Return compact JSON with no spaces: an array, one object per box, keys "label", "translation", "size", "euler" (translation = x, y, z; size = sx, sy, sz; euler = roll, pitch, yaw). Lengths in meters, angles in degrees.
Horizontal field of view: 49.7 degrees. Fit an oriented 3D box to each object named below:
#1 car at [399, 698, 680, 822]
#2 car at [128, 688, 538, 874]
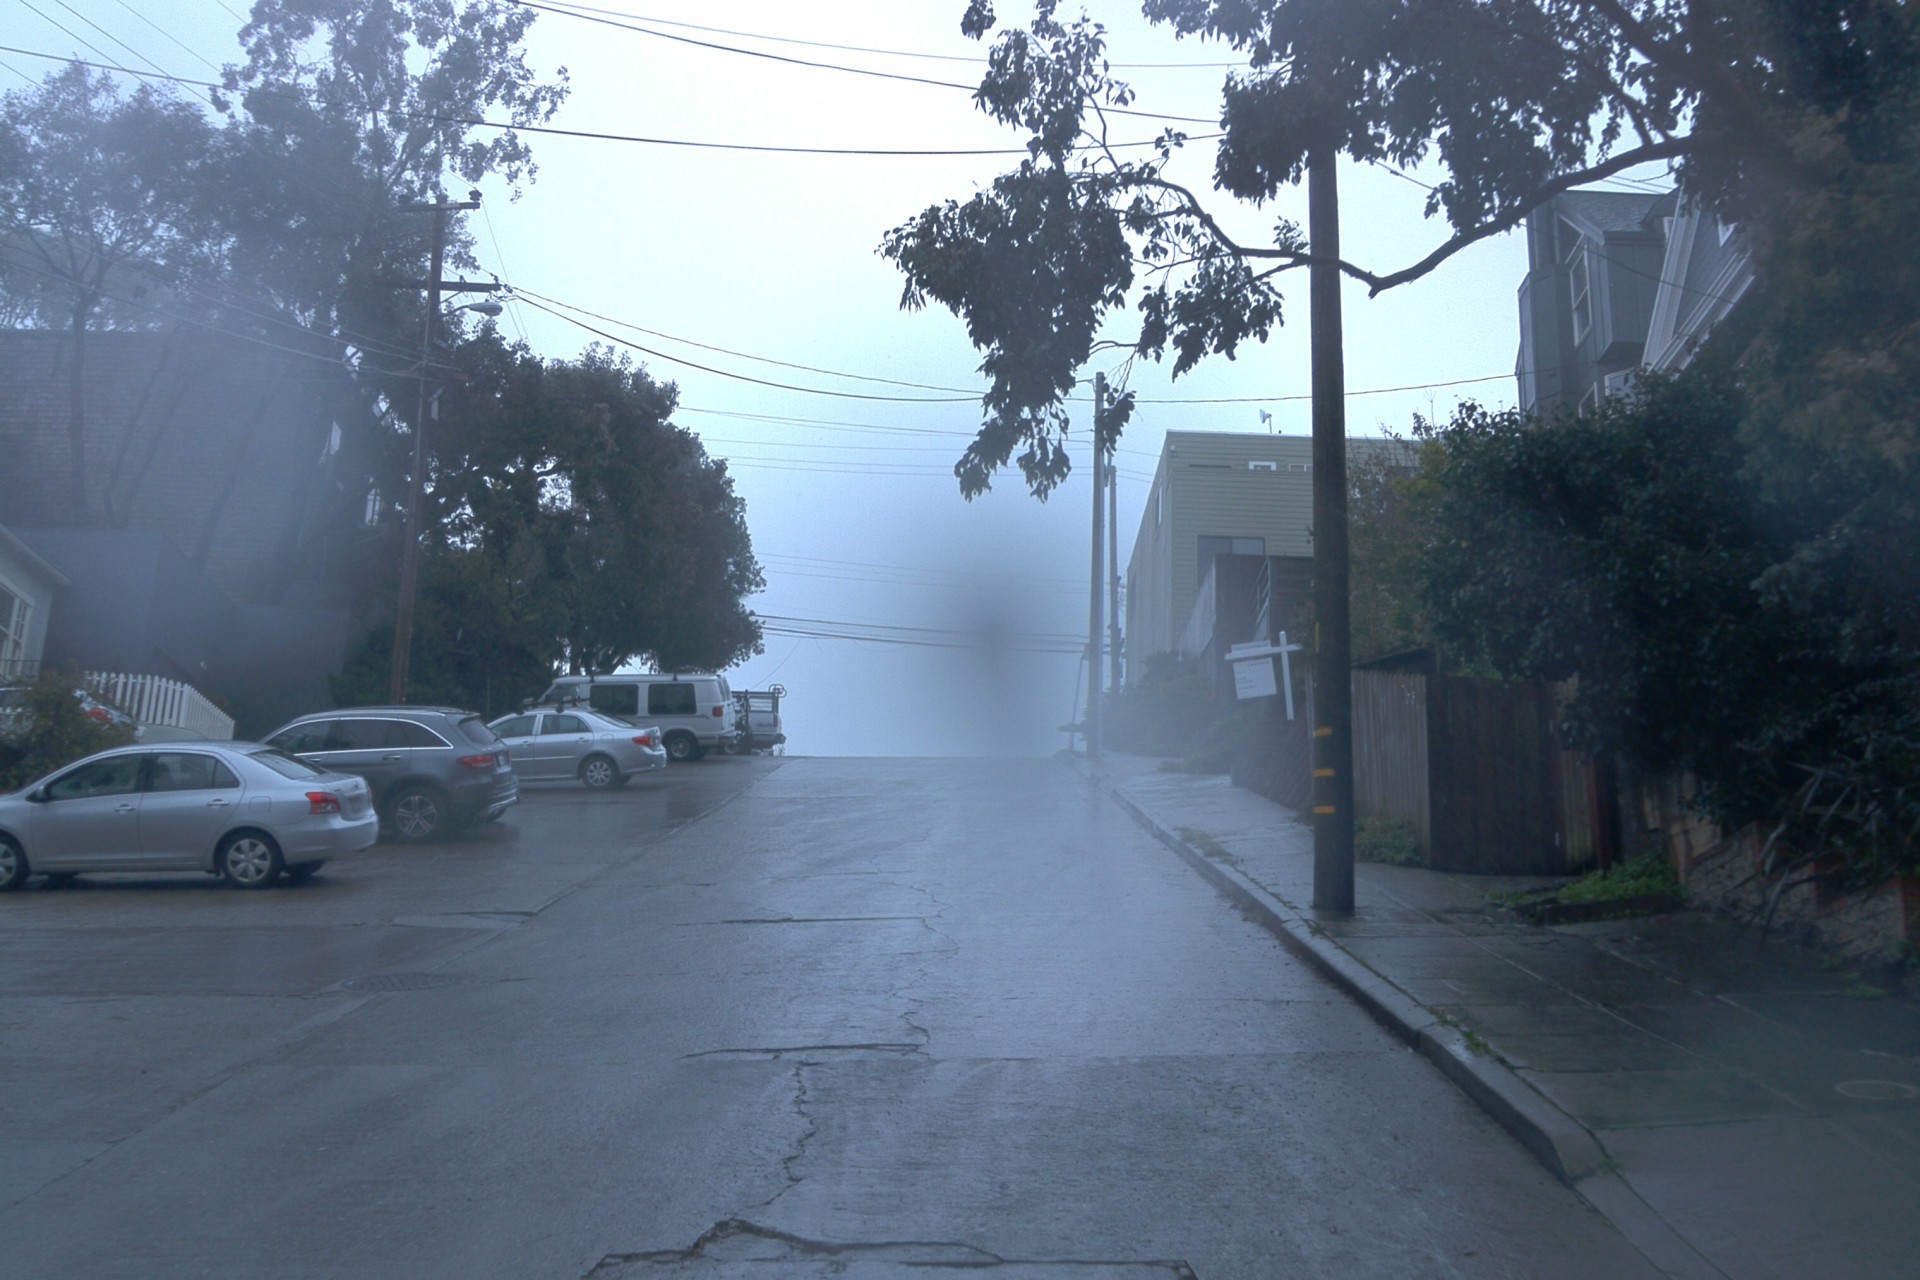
[{"label":"car","translation":[-7.374,2.084,36.637],"size":[4.449,2.047,2.156],"euler":[0,0,4]},{"label":"car","translation":[-7.810,1.722,26.139],"size":[4.489,2.200,2.185],"euler":[0,0,2]}]
